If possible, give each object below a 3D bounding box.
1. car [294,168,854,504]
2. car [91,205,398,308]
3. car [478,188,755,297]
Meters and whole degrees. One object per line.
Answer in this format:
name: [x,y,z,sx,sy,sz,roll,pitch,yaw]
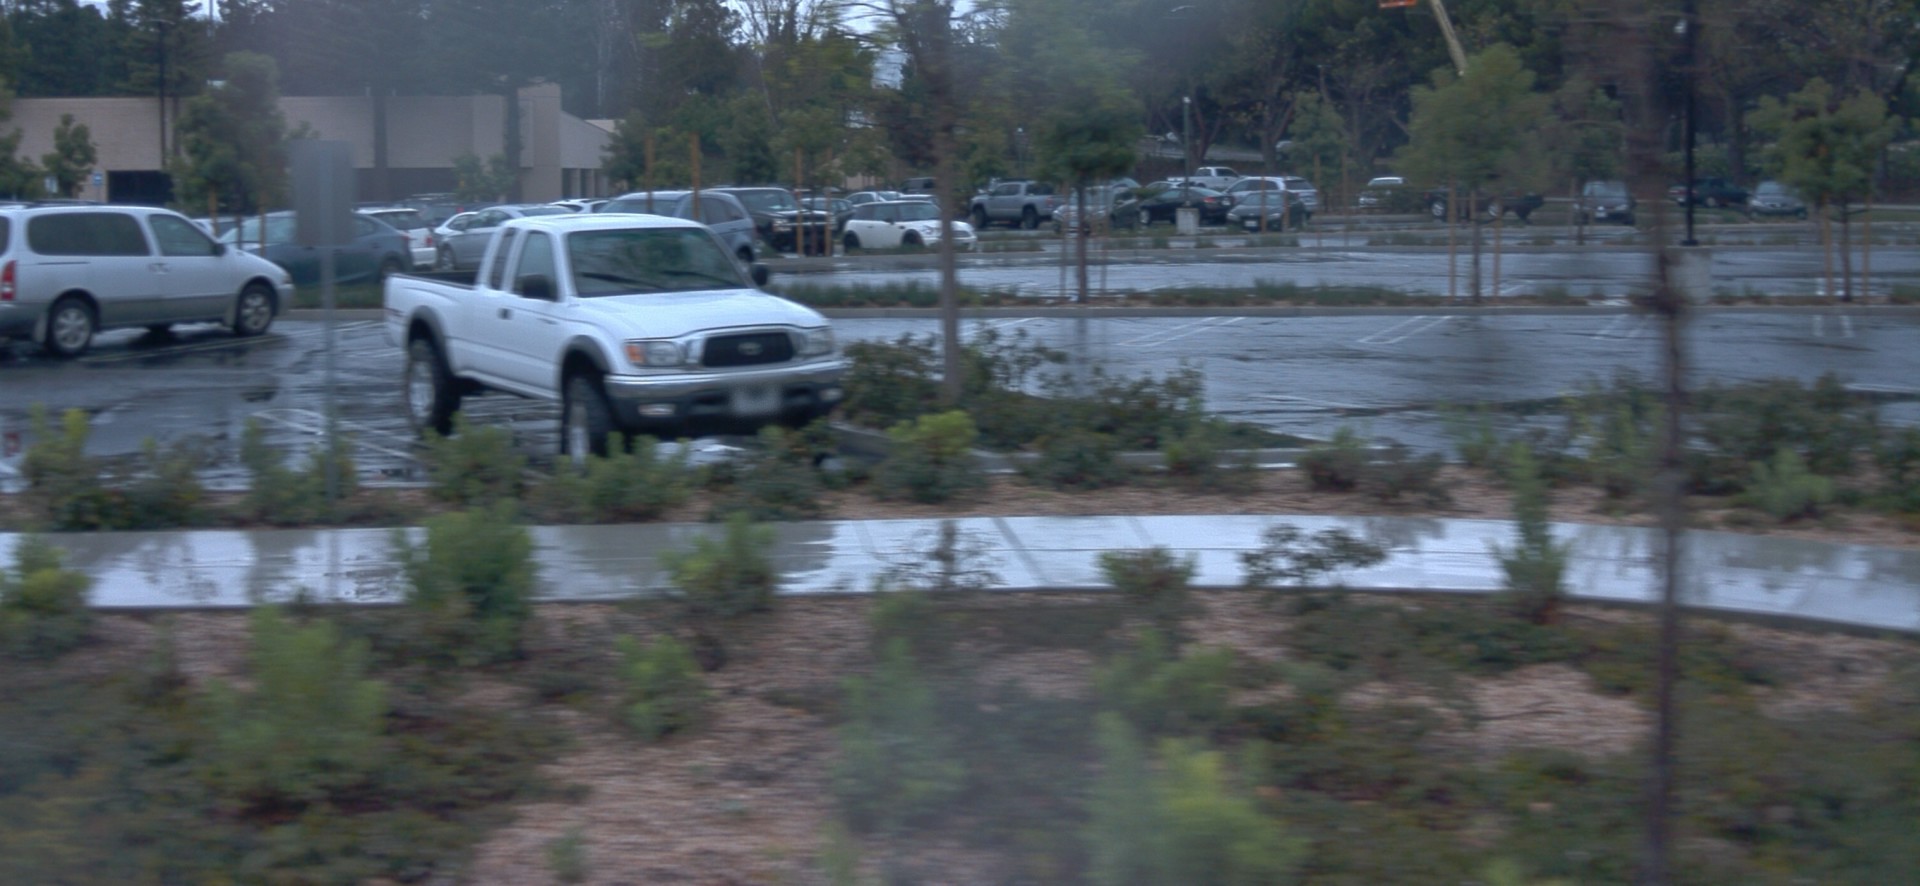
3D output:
car: [-3.059,-0.933,15.368,2.092,2.033,5.227,-2,6,-35]
car: [-10.671,-2.842,31.415,2.057,1.414,4.409,2,6,20]
car: [-5.086,-3.058,31.569,2.179,1.504,4.717,2,6,19]
